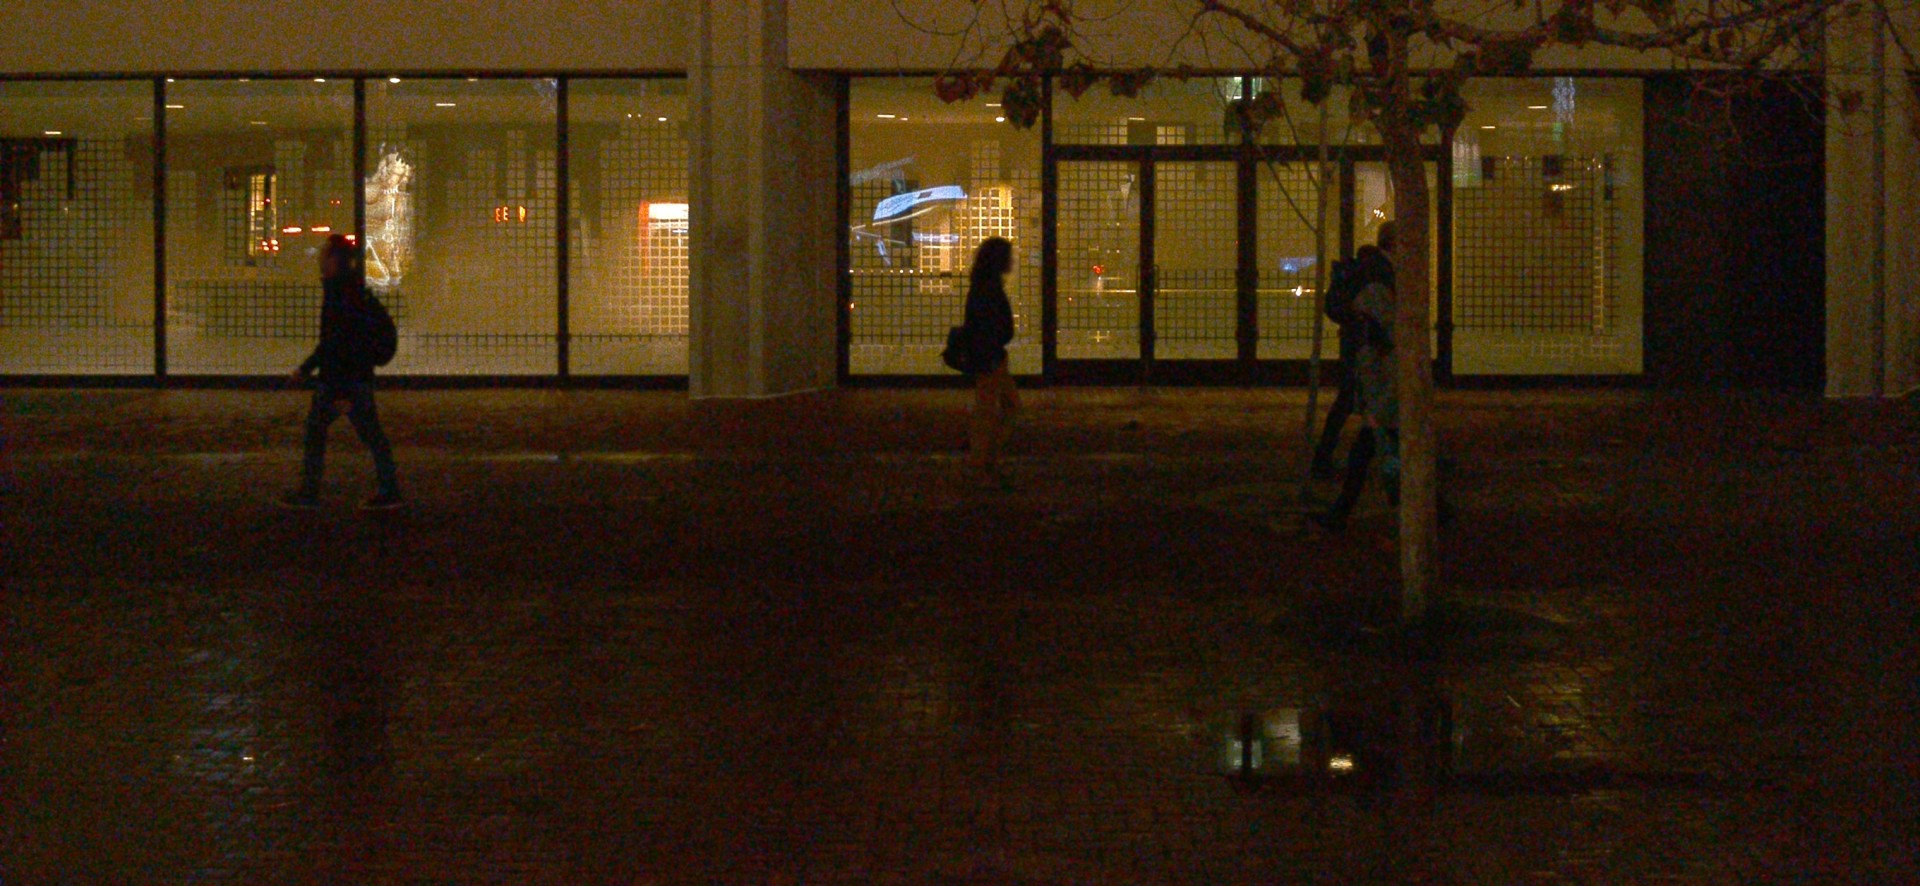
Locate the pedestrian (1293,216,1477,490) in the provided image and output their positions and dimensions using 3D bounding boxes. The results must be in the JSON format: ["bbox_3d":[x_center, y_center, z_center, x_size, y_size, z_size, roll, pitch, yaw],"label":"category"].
[{"bbox_3d":[2.915,-0.640,14.222,1.111,1.831,0.844,0,1,2],"label":"pedestrian"}]

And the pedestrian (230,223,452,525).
[{"bbox_3d":[-3.912,-0.463,13.069,1.141,1.851,0.760,0,0,6],"label":"pedestrian"}]

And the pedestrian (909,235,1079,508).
[{"bbox_3d":[0.214,-0.509,13.893,1.048,1.781,0.730,0,0,-8],"label":"pedestrian"}]

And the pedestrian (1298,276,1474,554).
[{"bbox_3d":[2.522,-0.198,12.281,0.869,1.581,0.941,0,1,1],"label":"pedestrian"}]
